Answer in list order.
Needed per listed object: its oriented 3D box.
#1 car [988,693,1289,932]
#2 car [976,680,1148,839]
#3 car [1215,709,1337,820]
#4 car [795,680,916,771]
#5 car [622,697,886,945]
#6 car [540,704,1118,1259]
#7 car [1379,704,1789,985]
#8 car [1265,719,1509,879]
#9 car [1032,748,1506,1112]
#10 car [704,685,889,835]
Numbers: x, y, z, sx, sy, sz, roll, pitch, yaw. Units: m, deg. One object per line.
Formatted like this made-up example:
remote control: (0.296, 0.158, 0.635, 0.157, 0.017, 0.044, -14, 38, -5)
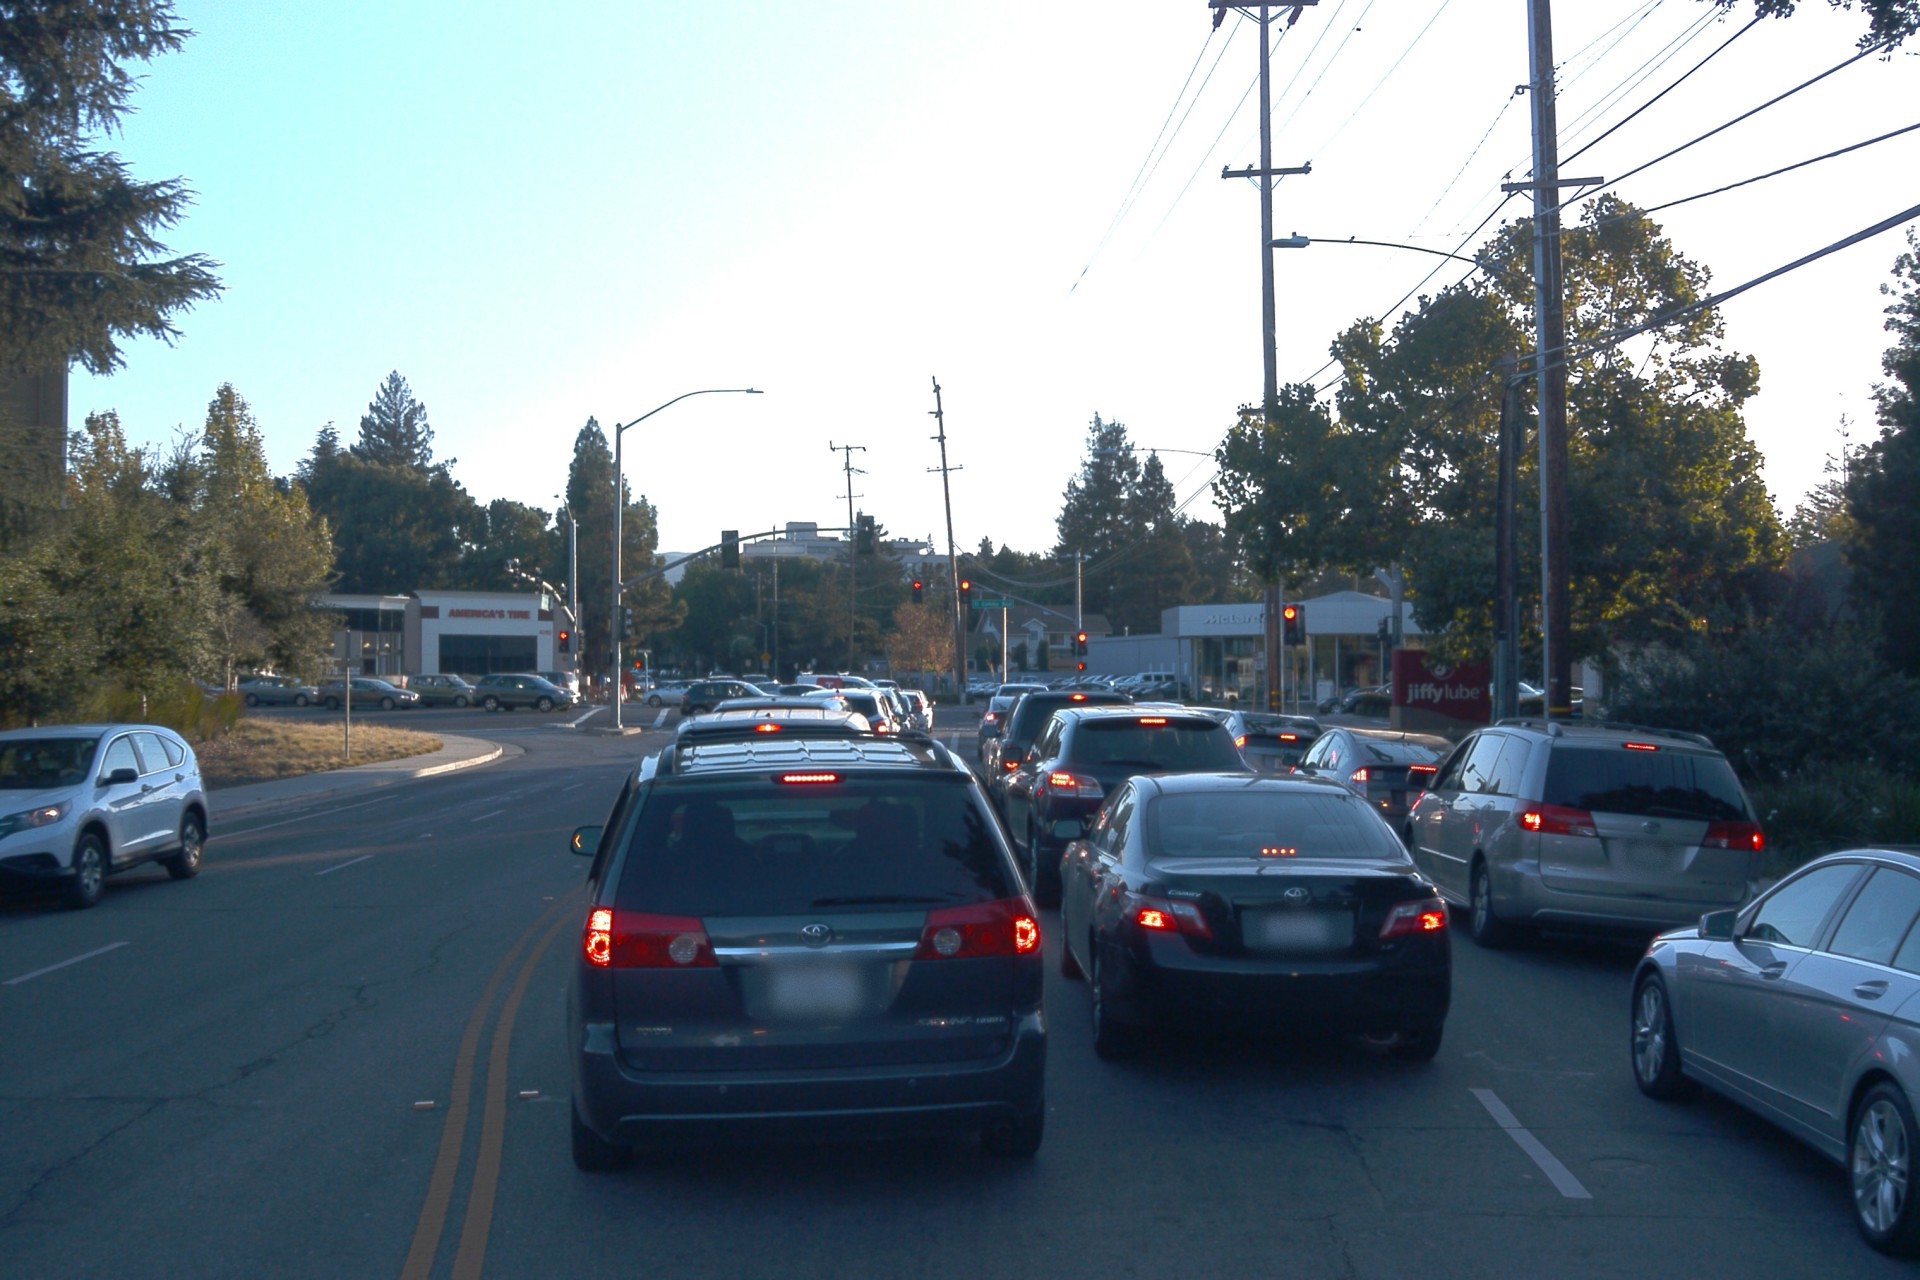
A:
car: (1.460, 1.433, 18.811, 1.992, 1.810, 4.553, 0, 0, -5)
car: (1.189, 1.412, 25.823, 1.759, 1.770, 3.957, 0, 0, -3)
car: (4.673, 1.817, 30.934, 1.418, 1.490, 3.138, 0, 0, 2)
car: (-1.657, 1.358, 33.818, 1.709, 1.350, 3.337, 0, 0, 2)
car: (-1.490, 1.300, 16.293, 1.812, 1.620, 4.042, 0, 0, -2)
car: (-0.872, 1.302, 10.222, 2.102, 1.830, 5.461, 0, 0, -9)
car: (4.905, 1.521, 17.099, 2.061, 1.850, 4.903, 0, 0, 2)
car: (4.678, 1.705, 23.272, 1.785, 1.510, 4.026, 0, 0, -2)
car: (1.530, 1.476, 11.982, 1.915, 1.490, 4.528, 0, 0, -2)
car: (-1.859, 1.358, 24.683, 1.760, 1.570, 3.956, 0, 0, 2)
